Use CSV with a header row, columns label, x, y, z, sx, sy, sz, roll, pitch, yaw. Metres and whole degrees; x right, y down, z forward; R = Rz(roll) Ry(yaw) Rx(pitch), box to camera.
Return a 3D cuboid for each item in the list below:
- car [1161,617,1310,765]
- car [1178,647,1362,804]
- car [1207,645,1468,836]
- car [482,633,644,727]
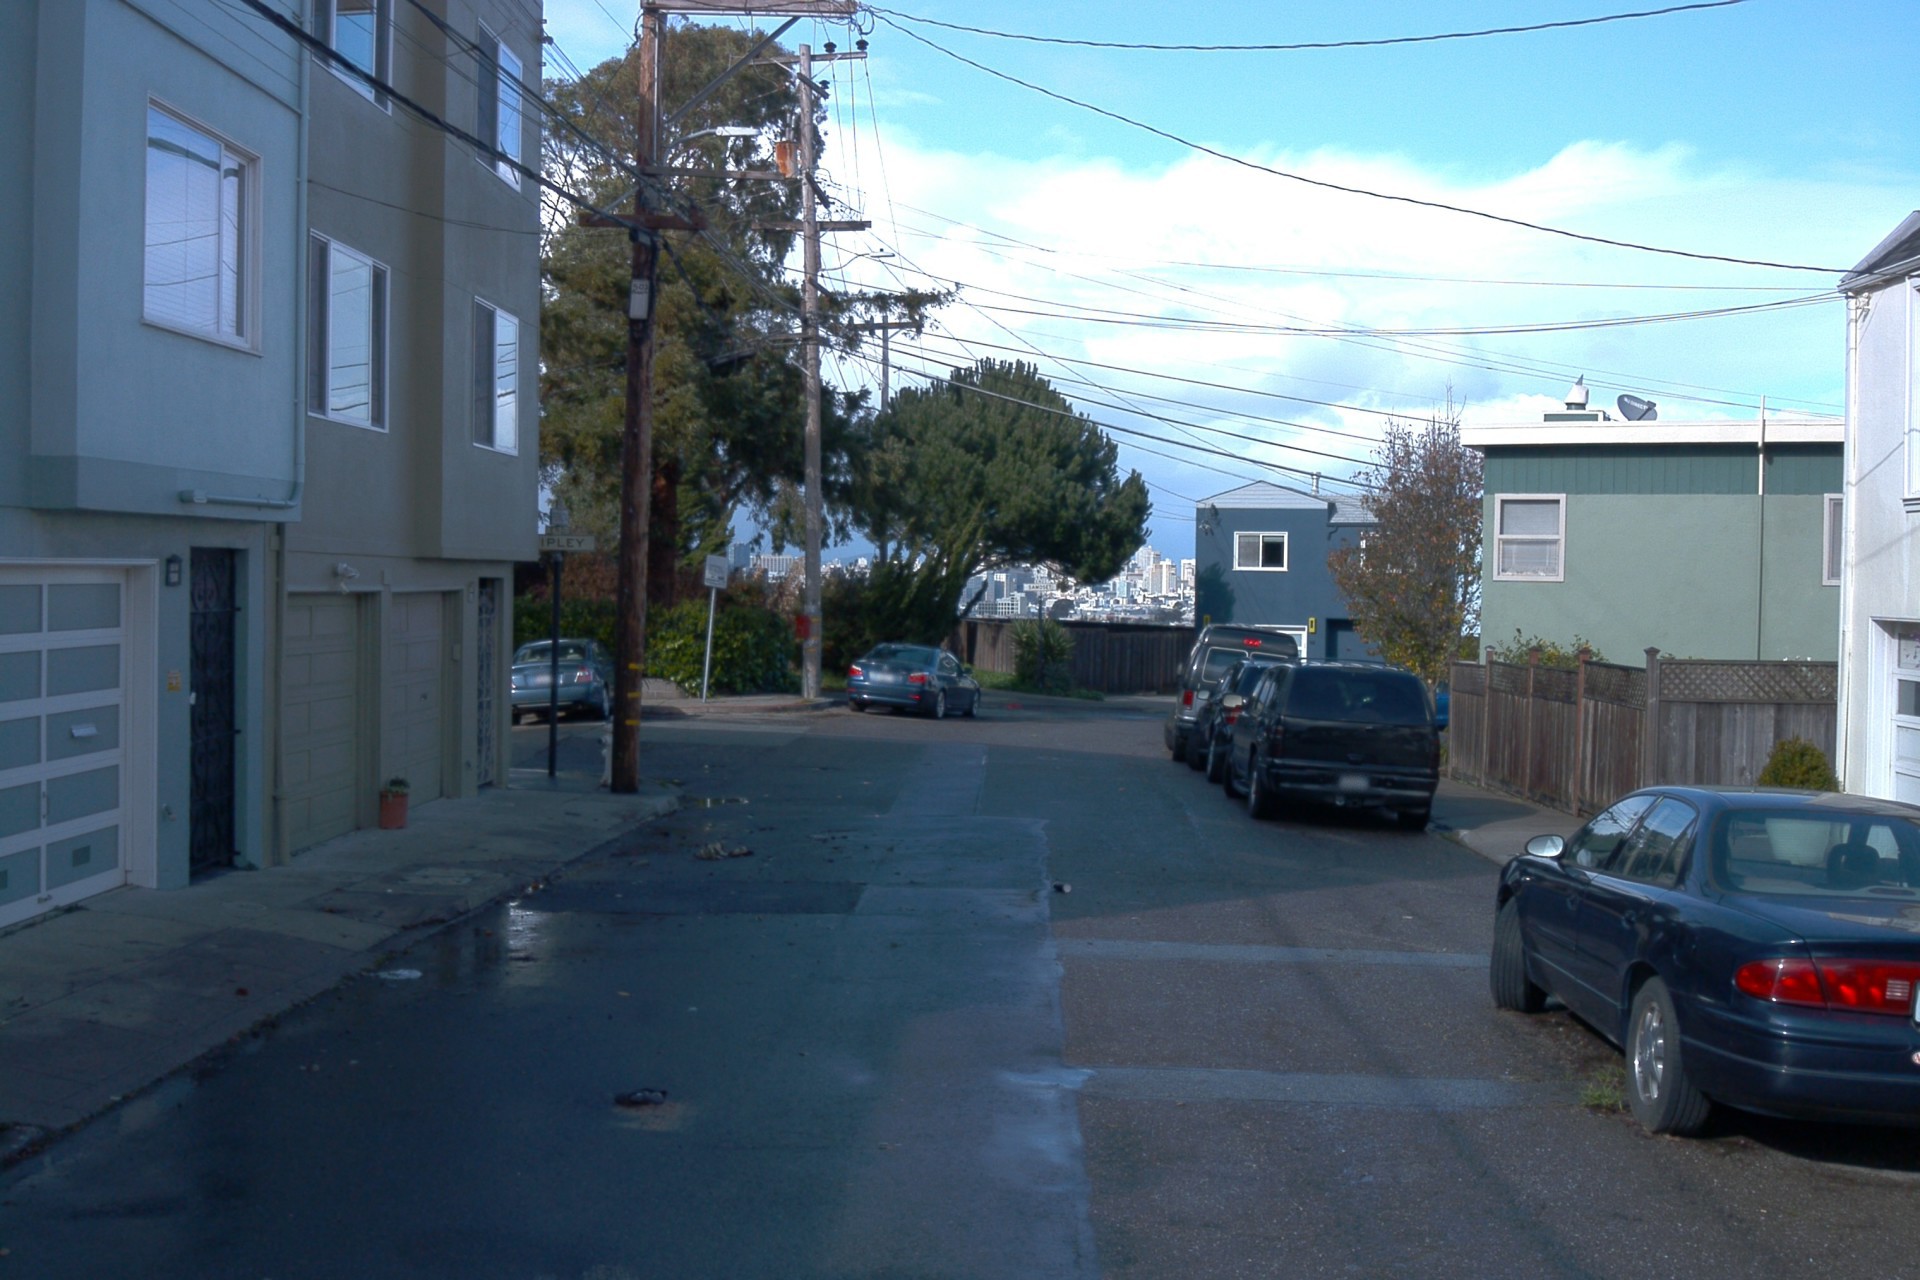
label,x,y,z,sx,sy,sz,roll,pitch,yaw
car,4.636,0.770,35.281,2.287,2.280,5.497,1,1,6
car,4.385,1.152,29.822,2.071,1.960,4.716,1,1,2
car,4.303,1.067,24.325,2.281,1.880,5.115,1,1,2
car,-6.856,0.652,35.944,1.906,1.450,4.515,1,1,1
